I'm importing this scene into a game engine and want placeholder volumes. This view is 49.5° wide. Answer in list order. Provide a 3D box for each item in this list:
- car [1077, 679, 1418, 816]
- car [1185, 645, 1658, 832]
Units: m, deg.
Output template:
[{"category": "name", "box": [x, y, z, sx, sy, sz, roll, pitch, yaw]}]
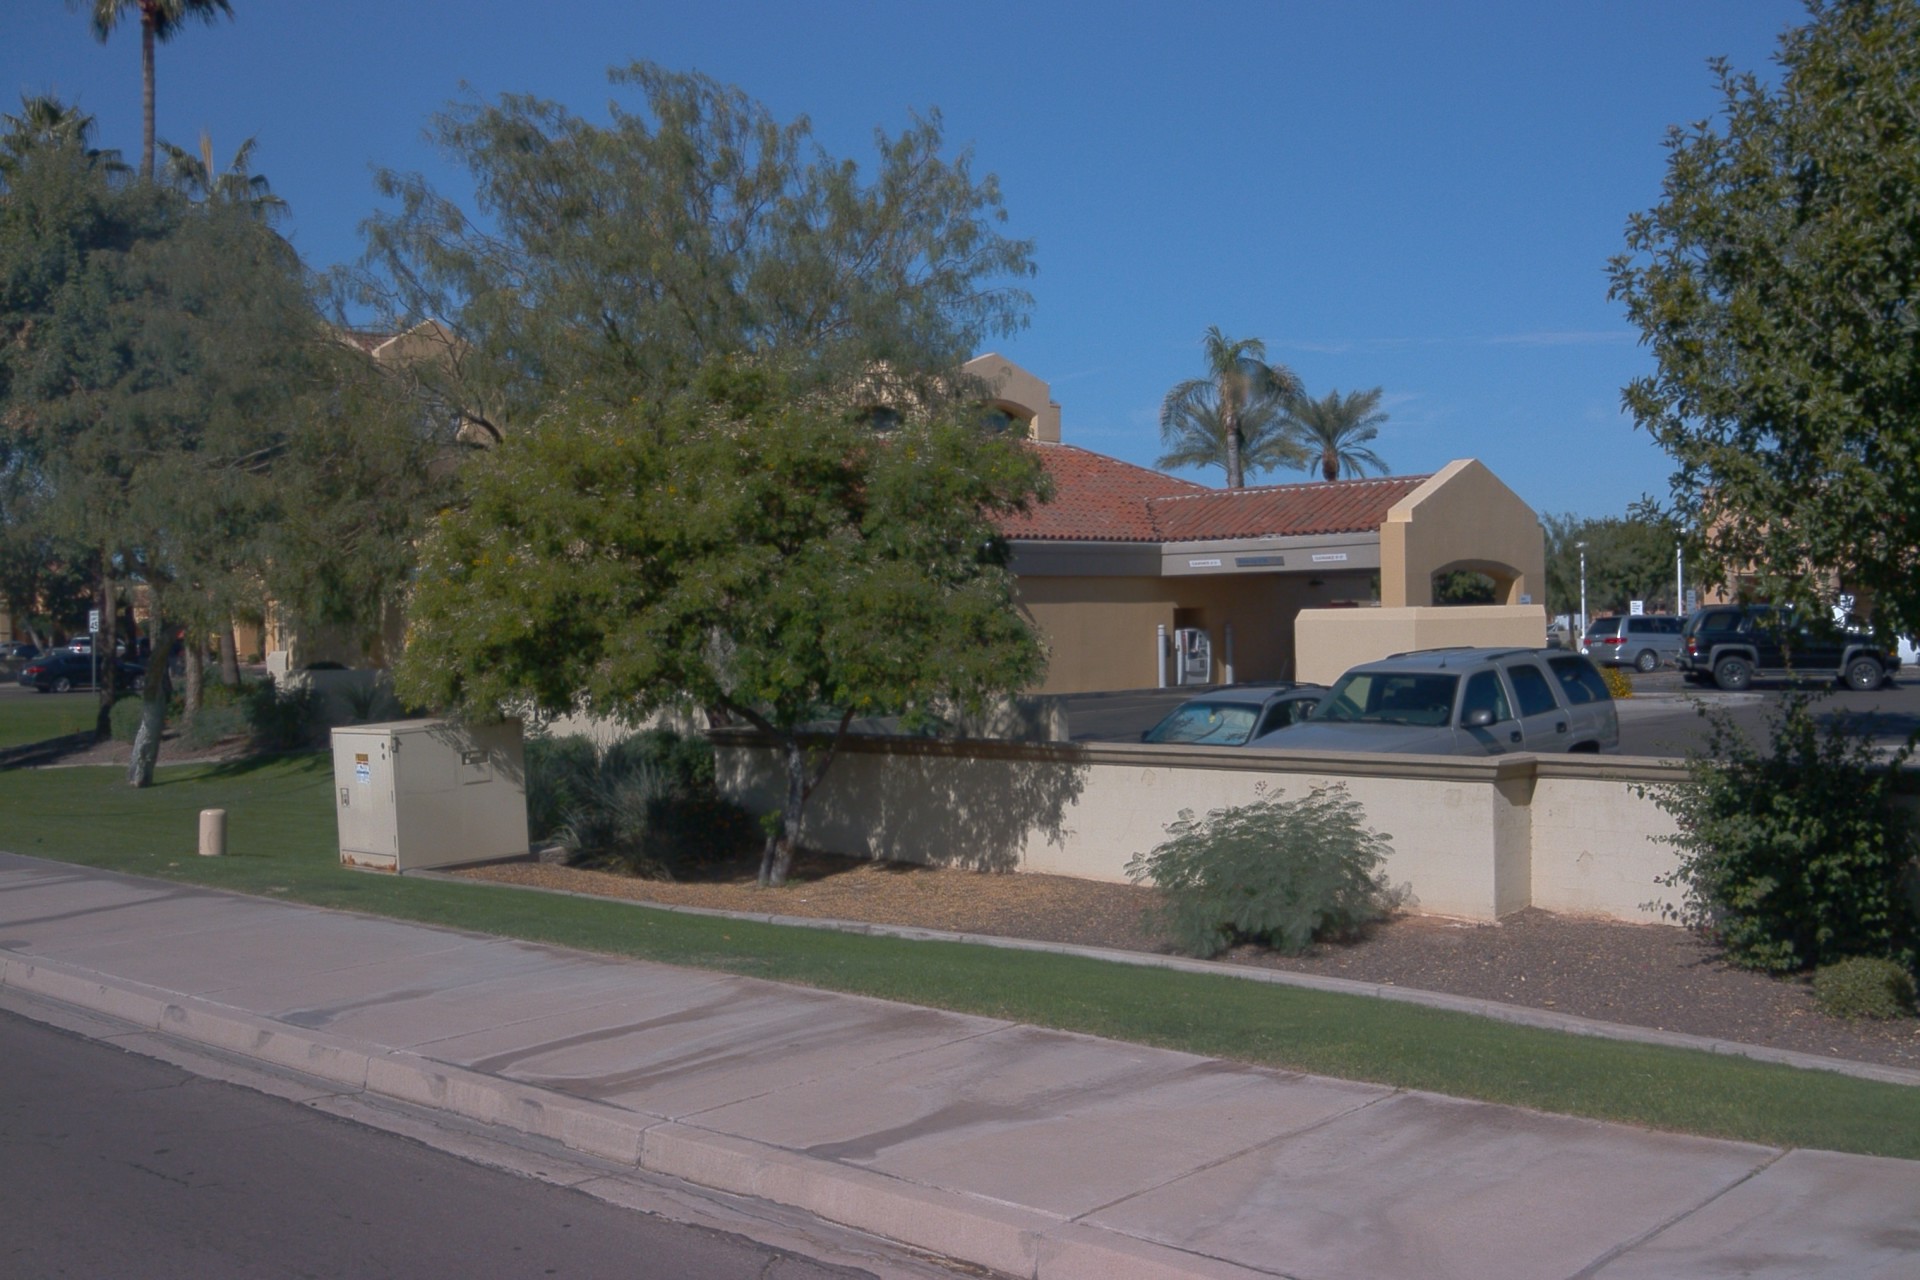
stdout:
[{"category": "car", "box": [3.259, 1.135, 23.214, 3.760, 1.380, 1.874, 1, -1, -45]}, {"category": "car", "box": [4.783, 0.930, 21.157, 4.873, 1.670, 2.380, 1, -1, -44]}]
